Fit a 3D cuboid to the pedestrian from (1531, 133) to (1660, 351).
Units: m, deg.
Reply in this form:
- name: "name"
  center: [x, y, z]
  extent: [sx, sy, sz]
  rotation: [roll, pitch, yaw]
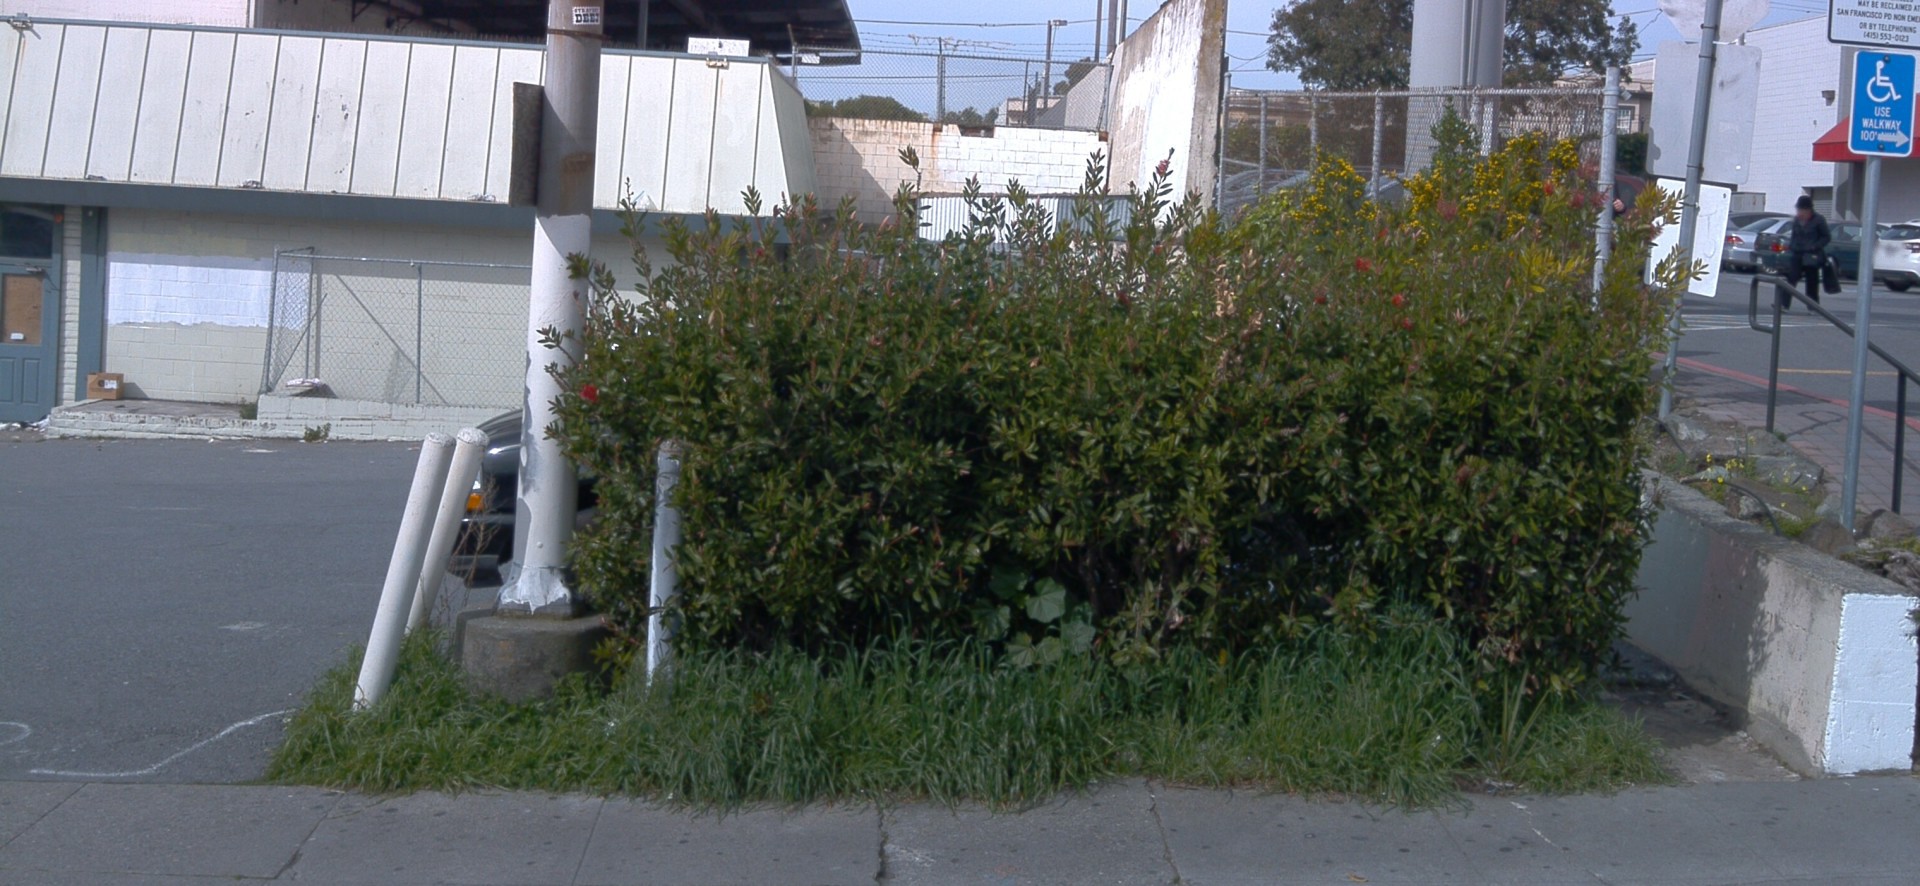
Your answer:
- name: "pedestrian"
  center: [5.047, -1.603, 16.445]
  extent: [0.869, 1.685, 0.833]
  rotation: [0, 1, 9]

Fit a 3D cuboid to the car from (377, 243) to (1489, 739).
- name: "car"
  center: [-0.129, 0.096, 9.904]
  extent: [4.799, 2.108, 2.006]
  rotation: [0, 3, -2]

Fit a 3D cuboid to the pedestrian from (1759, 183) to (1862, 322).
- name: "pedestrian"
  center: [10.694, -2.399, 25.972]
  extent: [0.972, 1.705, 0.840]
  rotation: [-1, 2, -39]
